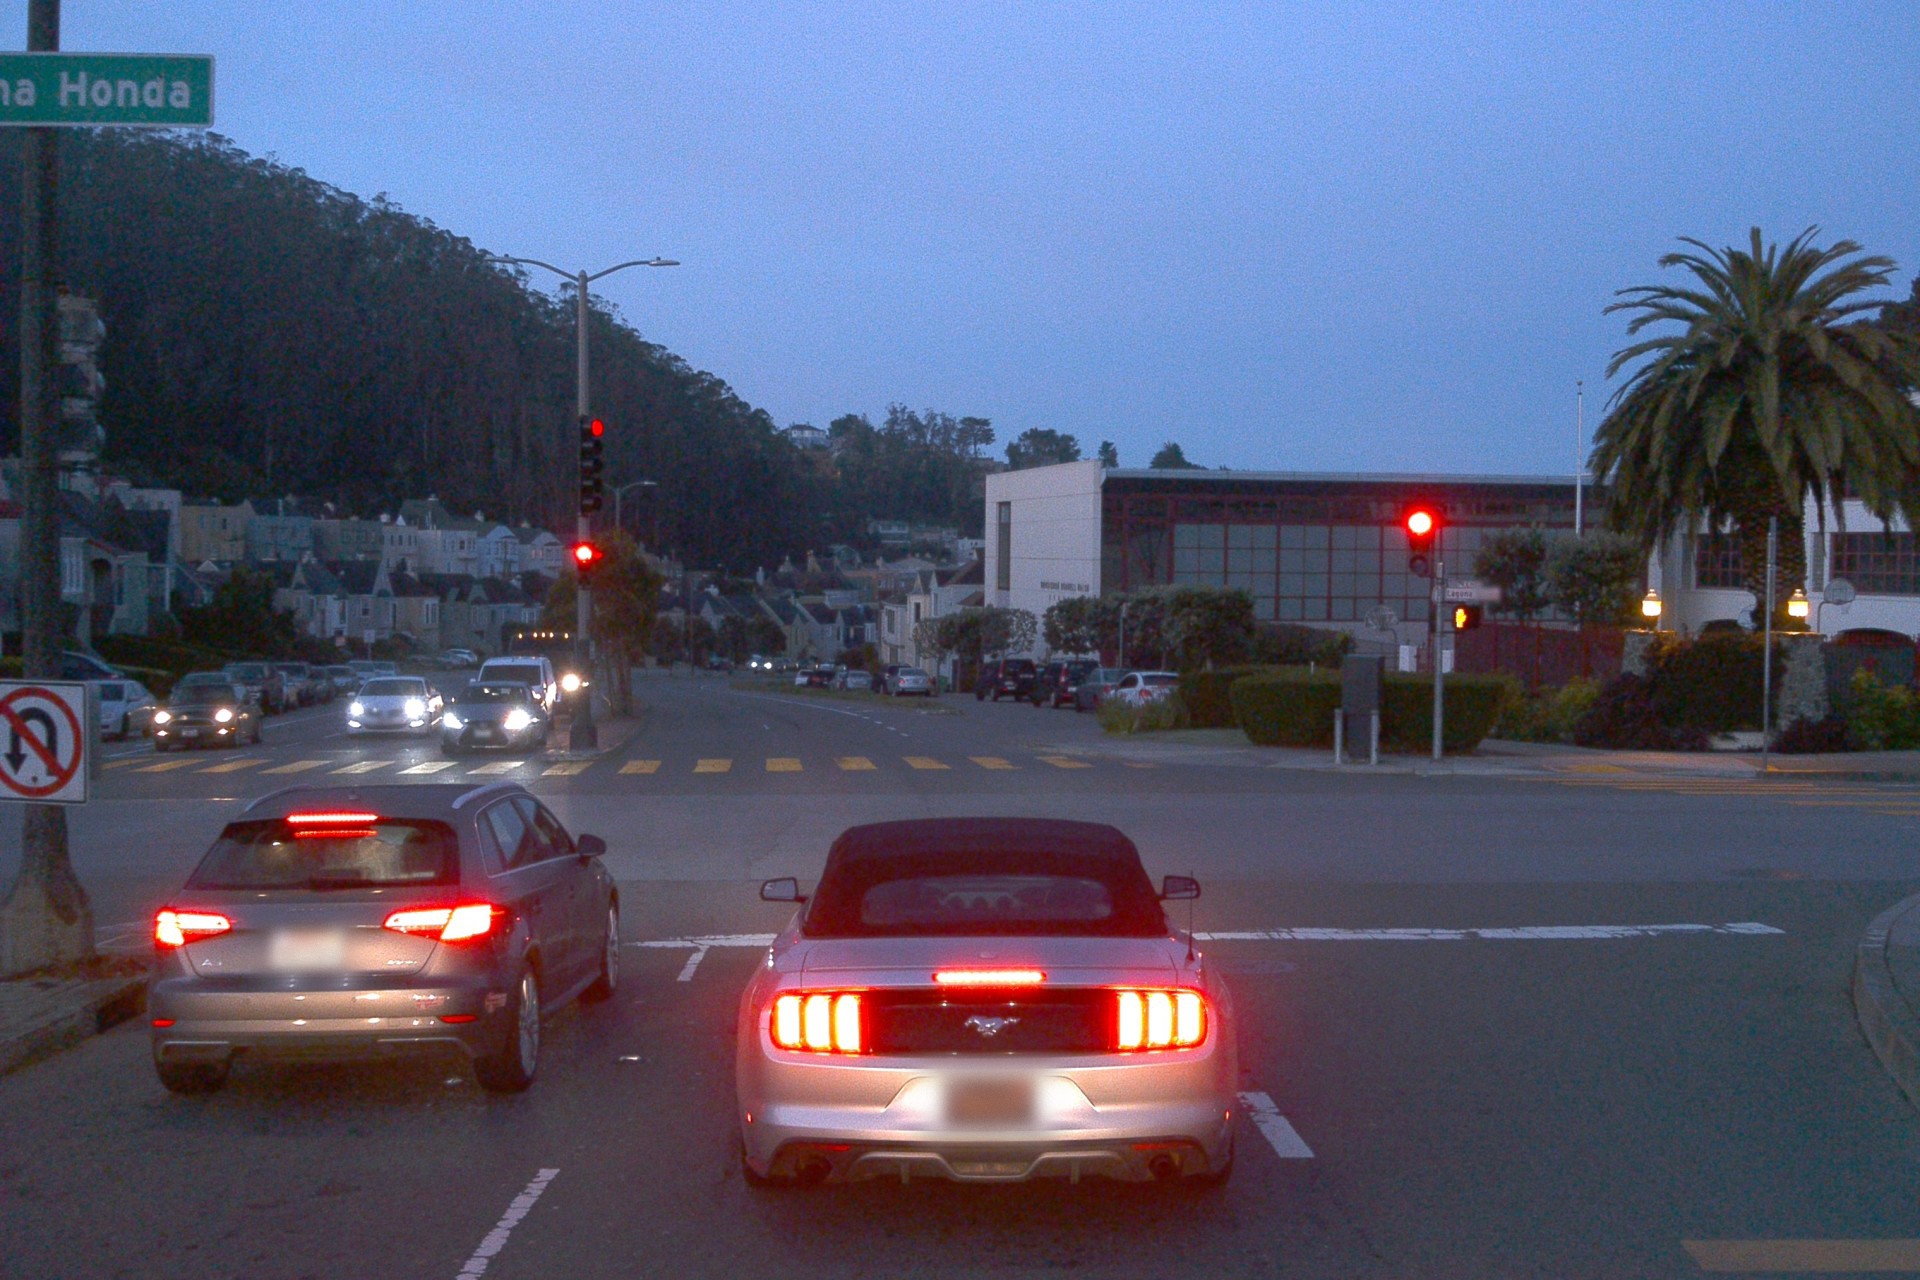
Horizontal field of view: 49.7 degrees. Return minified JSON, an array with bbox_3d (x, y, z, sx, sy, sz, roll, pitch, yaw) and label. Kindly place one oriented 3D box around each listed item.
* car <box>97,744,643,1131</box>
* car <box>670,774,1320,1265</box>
[{"bbox_3d":[-2.886,1.402,11.058,1.782,1.510,3.987,0,0,0],"label":"car"},{"bbox_3d":[0.099,1.412,9.110,2.174,1.380,4.355,0,0,0],"label":"car"}]
